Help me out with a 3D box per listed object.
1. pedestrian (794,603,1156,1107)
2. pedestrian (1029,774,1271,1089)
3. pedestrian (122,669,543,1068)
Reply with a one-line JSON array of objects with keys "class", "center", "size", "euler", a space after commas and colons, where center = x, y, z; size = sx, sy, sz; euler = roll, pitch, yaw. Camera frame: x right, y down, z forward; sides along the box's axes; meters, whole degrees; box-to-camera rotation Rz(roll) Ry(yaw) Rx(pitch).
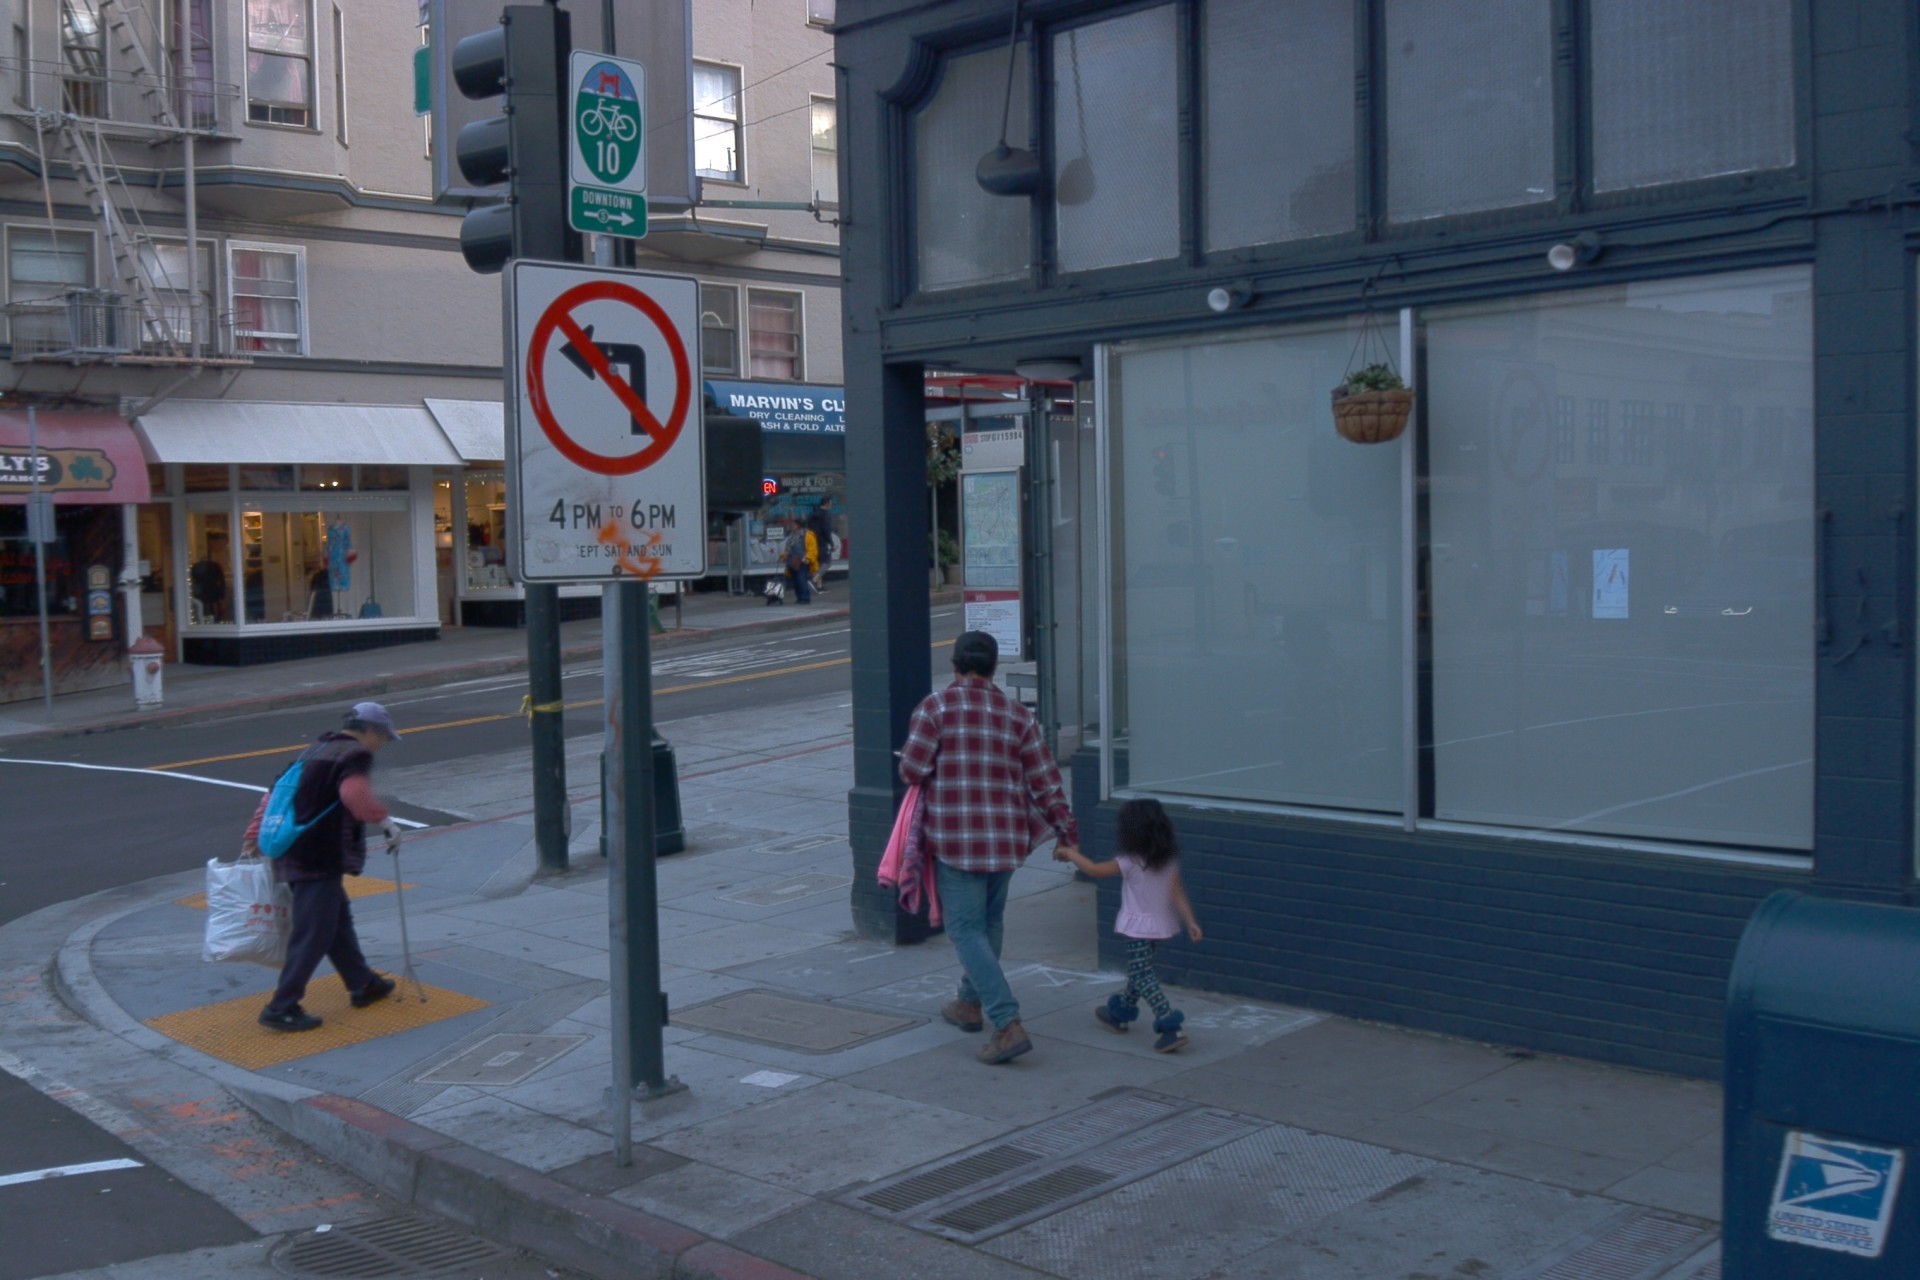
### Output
[{"class": "pedestrian", "center": [0.044, 0.782, 8.216], "size": [0.954, 1.840, 1.113], "euler": [0, 1, -36]}, {"class": "pedestrian", "center": [0.752, 1.126, 8.193], "size": [0.659, 1.120, 0.695], "euler": [0, 0, -34]}, {"class": "pedestrian", "center": [-2.908, 0.968, 9.531], "size": [1.390, 1.630, 1.353], "euler": [0, 1, -45]}]
